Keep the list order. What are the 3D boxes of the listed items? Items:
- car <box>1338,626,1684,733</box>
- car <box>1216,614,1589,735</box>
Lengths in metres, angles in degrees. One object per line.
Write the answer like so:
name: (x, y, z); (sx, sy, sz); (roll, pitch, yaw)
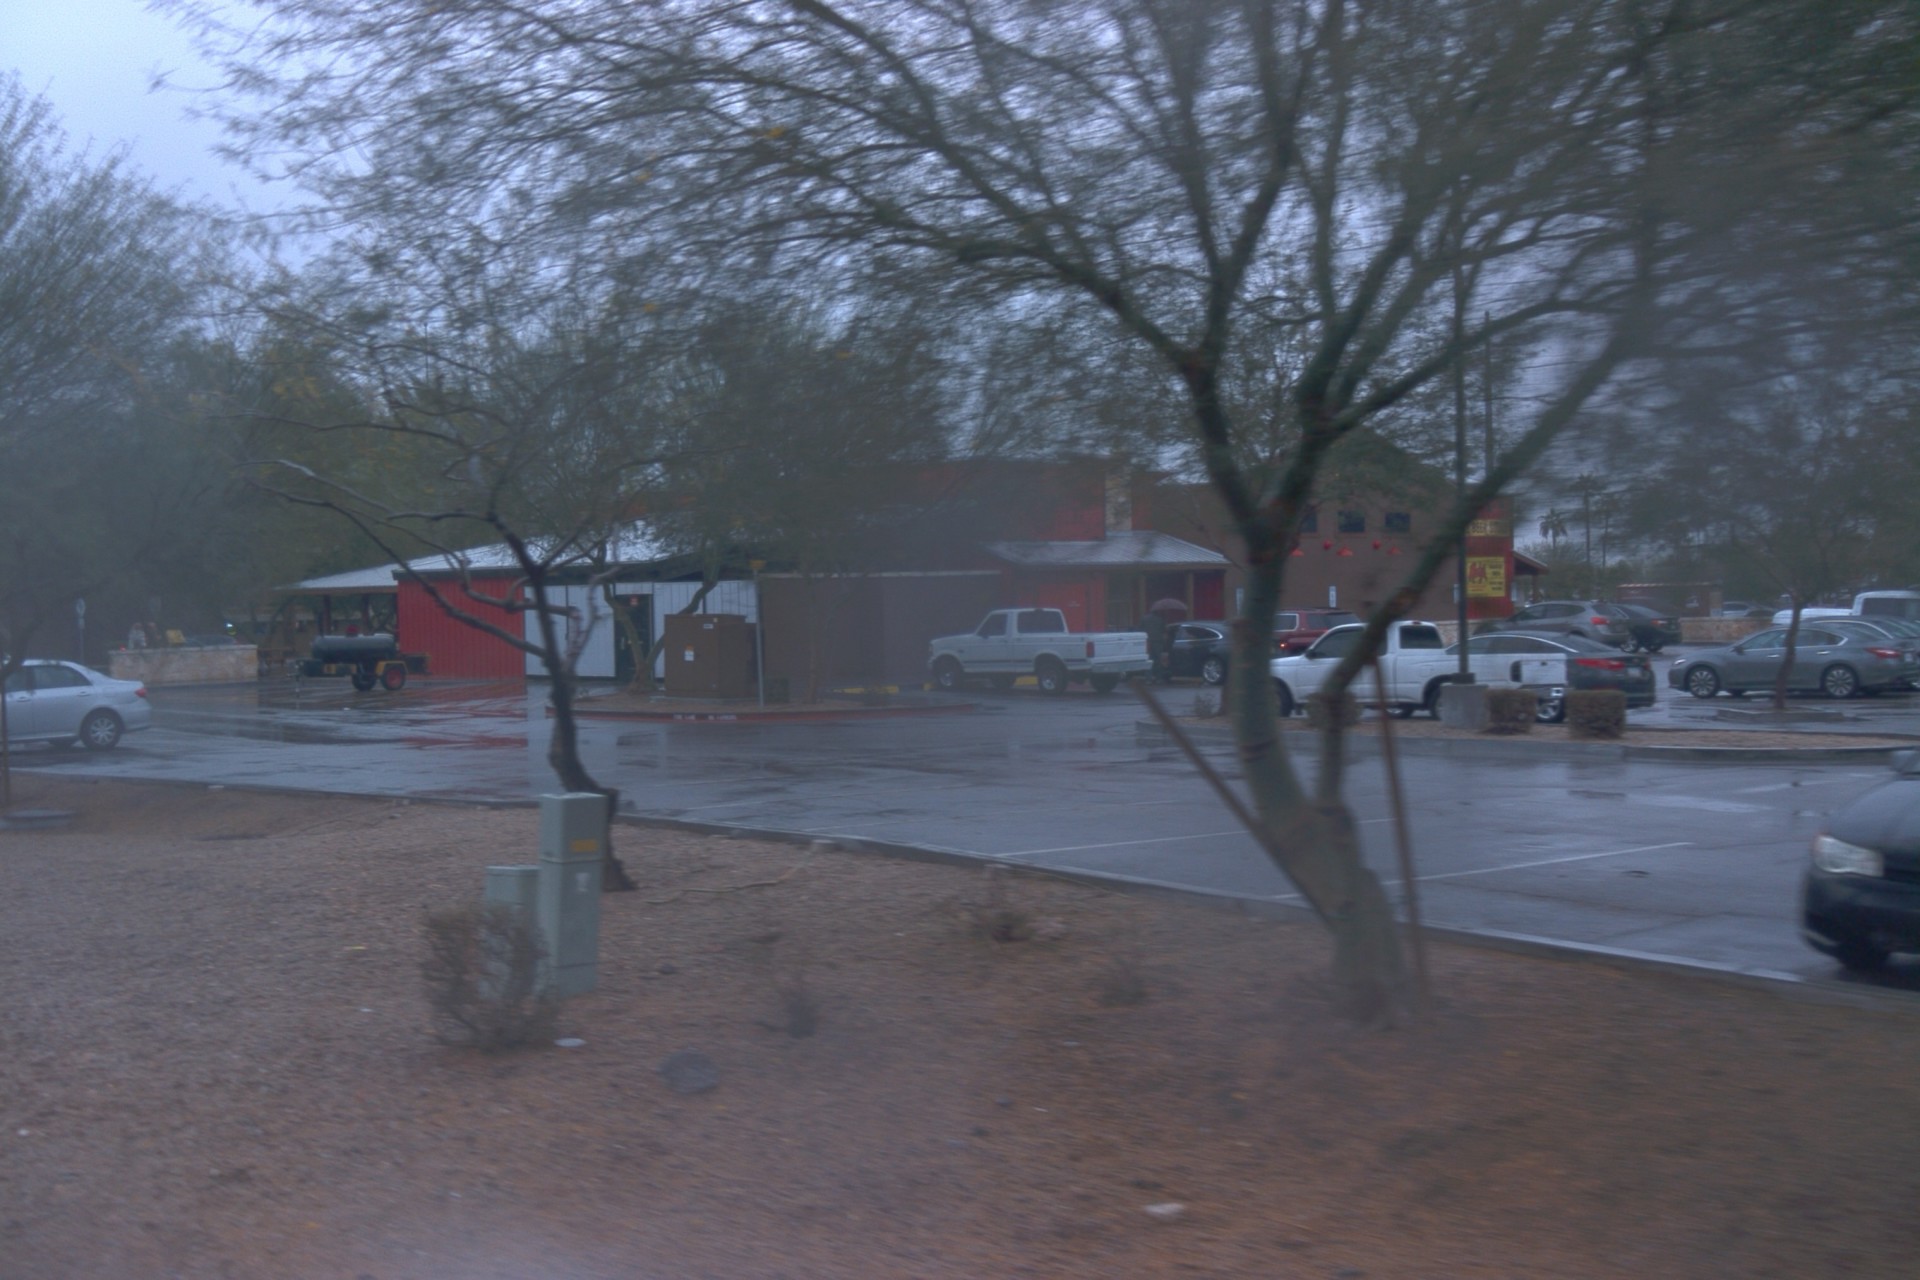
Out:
car: (8.772, 0.612, 33.452); (4.967, 1.590, 2.128); (0, -1, 44)
car: (6.647, 0.509, 31.721); (5.213, 1.700, 2.119); (0, -1, 43)
